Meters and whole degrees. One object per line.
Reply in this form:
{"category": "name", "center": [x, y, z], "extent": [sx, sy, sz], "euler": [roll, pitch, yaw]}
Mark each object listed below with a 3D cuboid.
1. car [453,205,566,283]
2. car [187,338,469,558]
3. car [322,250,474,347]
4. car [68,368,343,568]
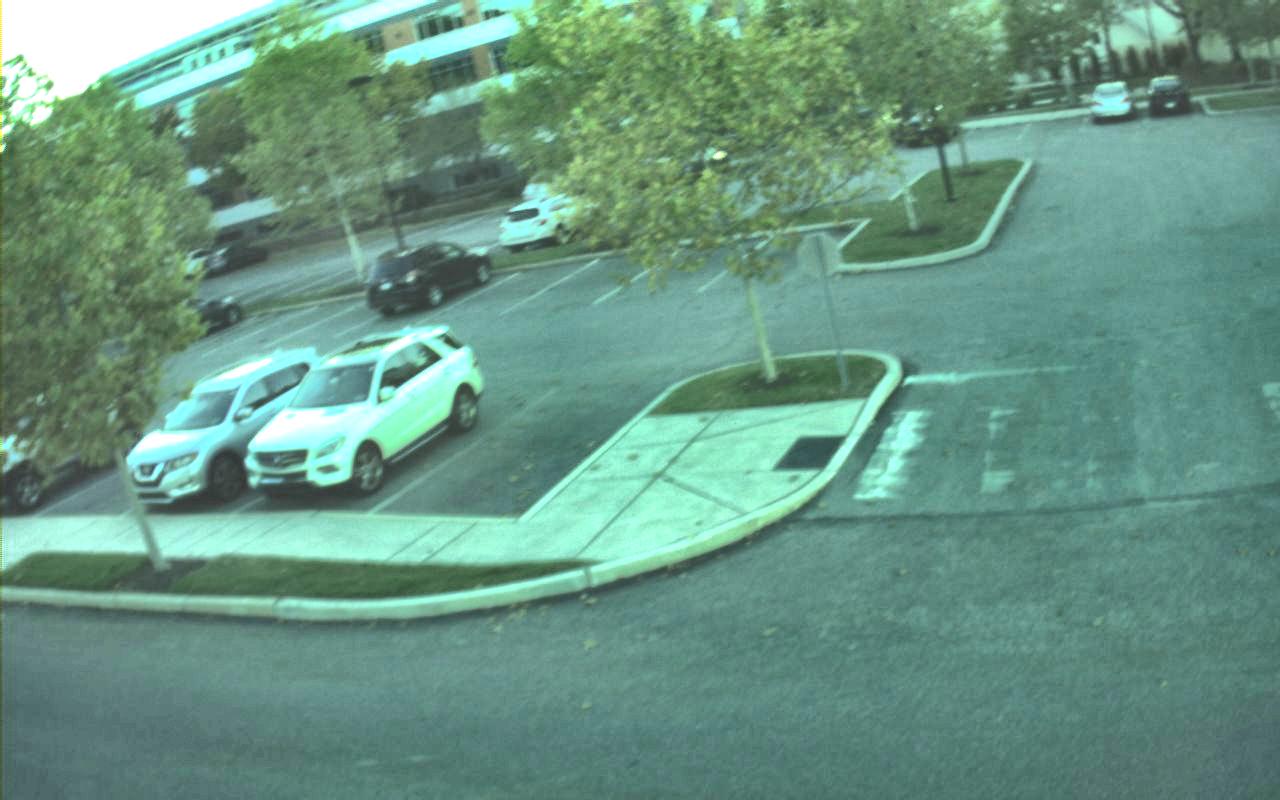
{"category": "car", "center": [-4.258, -5.234, 41.596], "extent": [2.028, 1.779, 4.741], "euler": [4, 17, 17]}
{"category": "car", "center": [-4.587, 0.562, 18.698], "extent": [2.026, 1.816, 4.782], "euler": [4, 17, 18]}
{"category": "car", "center": [-6.645, -2.887, 34.595], "extent": [2.004, 1.686, 4.704], "euler": [5, 17, 21]}
{"category": "car", "center": [-7.006, 0.989, 19.562], "extent": [1.990, 1.699, 4.716], "euler": [5, 17, 21]}
